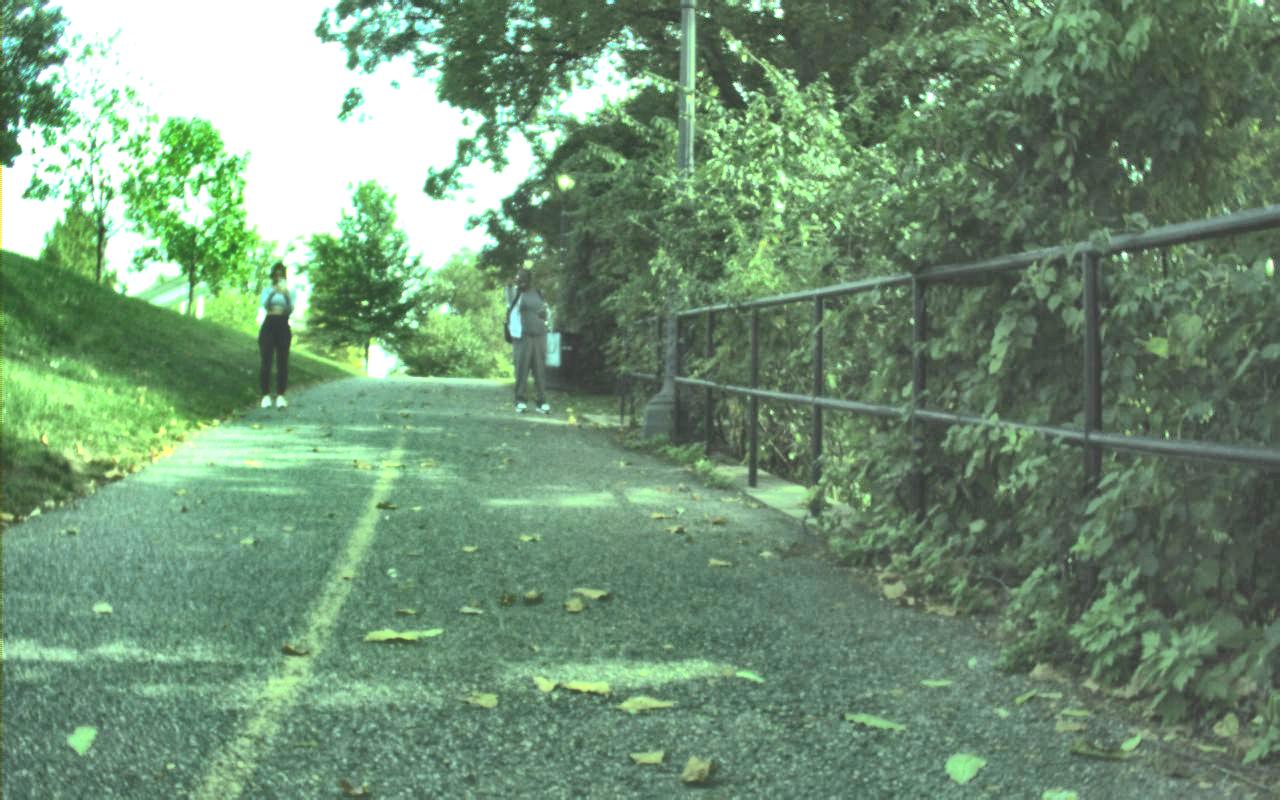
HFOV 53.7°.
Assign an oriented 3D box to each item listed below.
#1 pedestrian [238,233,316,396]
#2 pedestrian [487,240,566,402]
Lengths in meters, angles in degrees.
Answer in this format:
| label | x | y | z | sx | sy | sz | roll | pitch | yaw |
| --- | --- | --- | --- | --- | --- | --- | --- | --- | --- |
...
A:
| label | x | y | z | sx | sy | sz | roll | pitch | yaw |
| --- | --- | --- | --- | --- | --- | --- | --- | --- | --- |
| pedestrian | -3.984 | -0.904 | 13.269 | 0.780 | 1.727 | 0.782 | 0 | 0 | -23 |
| pedestrian | -1.327 | -0.895 | 14.575 | 0.861 | 1.820 | 0.877 | 0 | 0 | -8 |
